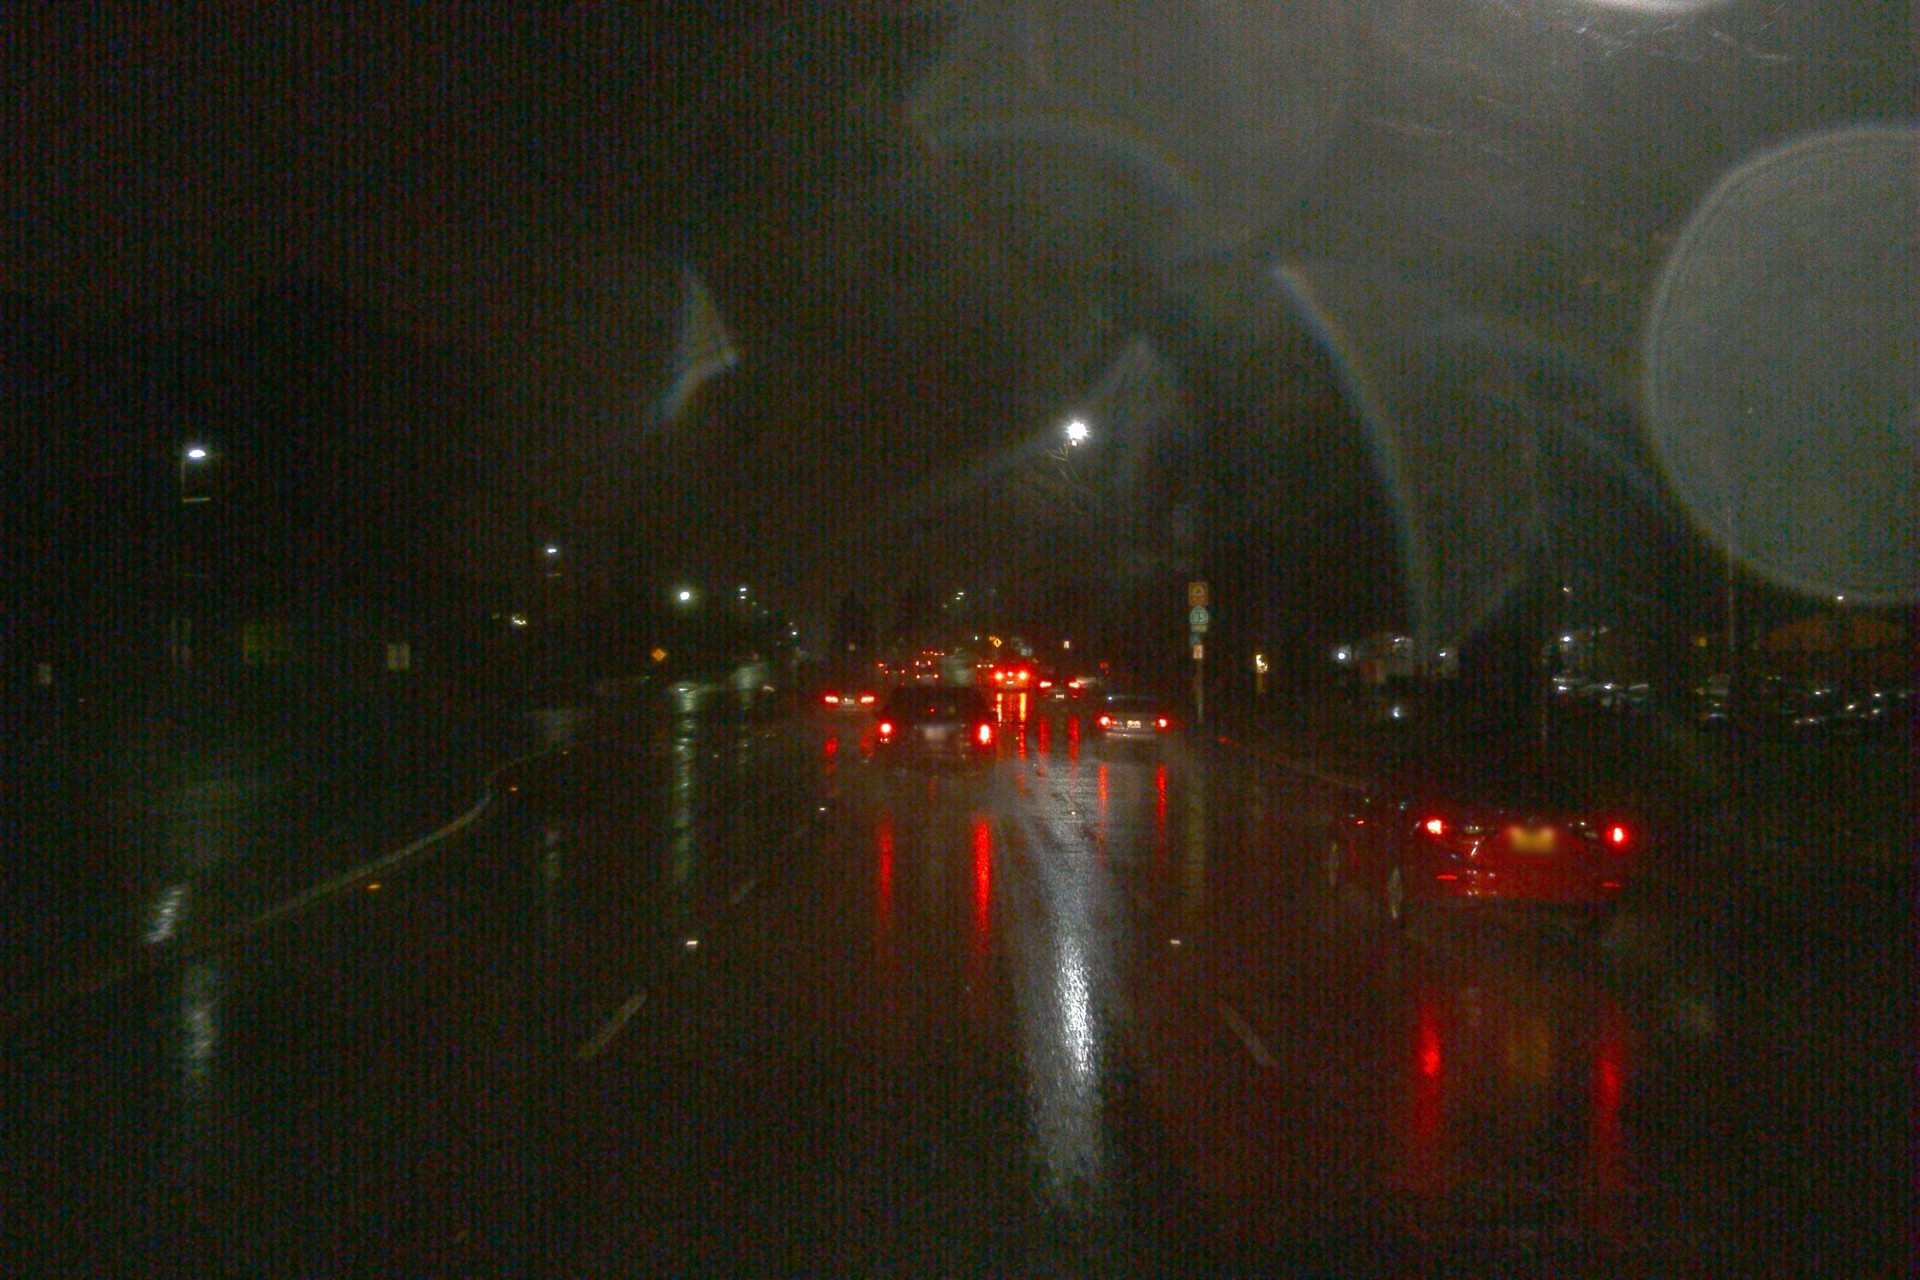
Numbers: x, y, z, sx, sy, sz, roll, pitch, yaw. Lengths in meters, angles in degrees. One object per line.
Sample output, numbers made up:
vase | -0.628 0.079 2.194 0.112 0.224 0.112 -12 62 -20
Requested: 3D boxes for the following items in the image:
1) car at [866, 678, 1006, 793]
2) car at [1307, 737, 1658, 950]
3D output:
car | -0.377 1.556 35.306 2.222 1.800 4.381 0 -1 0
car | 4.344 1.649 18.032 1.963 1.470 4.264 0 -1 0
